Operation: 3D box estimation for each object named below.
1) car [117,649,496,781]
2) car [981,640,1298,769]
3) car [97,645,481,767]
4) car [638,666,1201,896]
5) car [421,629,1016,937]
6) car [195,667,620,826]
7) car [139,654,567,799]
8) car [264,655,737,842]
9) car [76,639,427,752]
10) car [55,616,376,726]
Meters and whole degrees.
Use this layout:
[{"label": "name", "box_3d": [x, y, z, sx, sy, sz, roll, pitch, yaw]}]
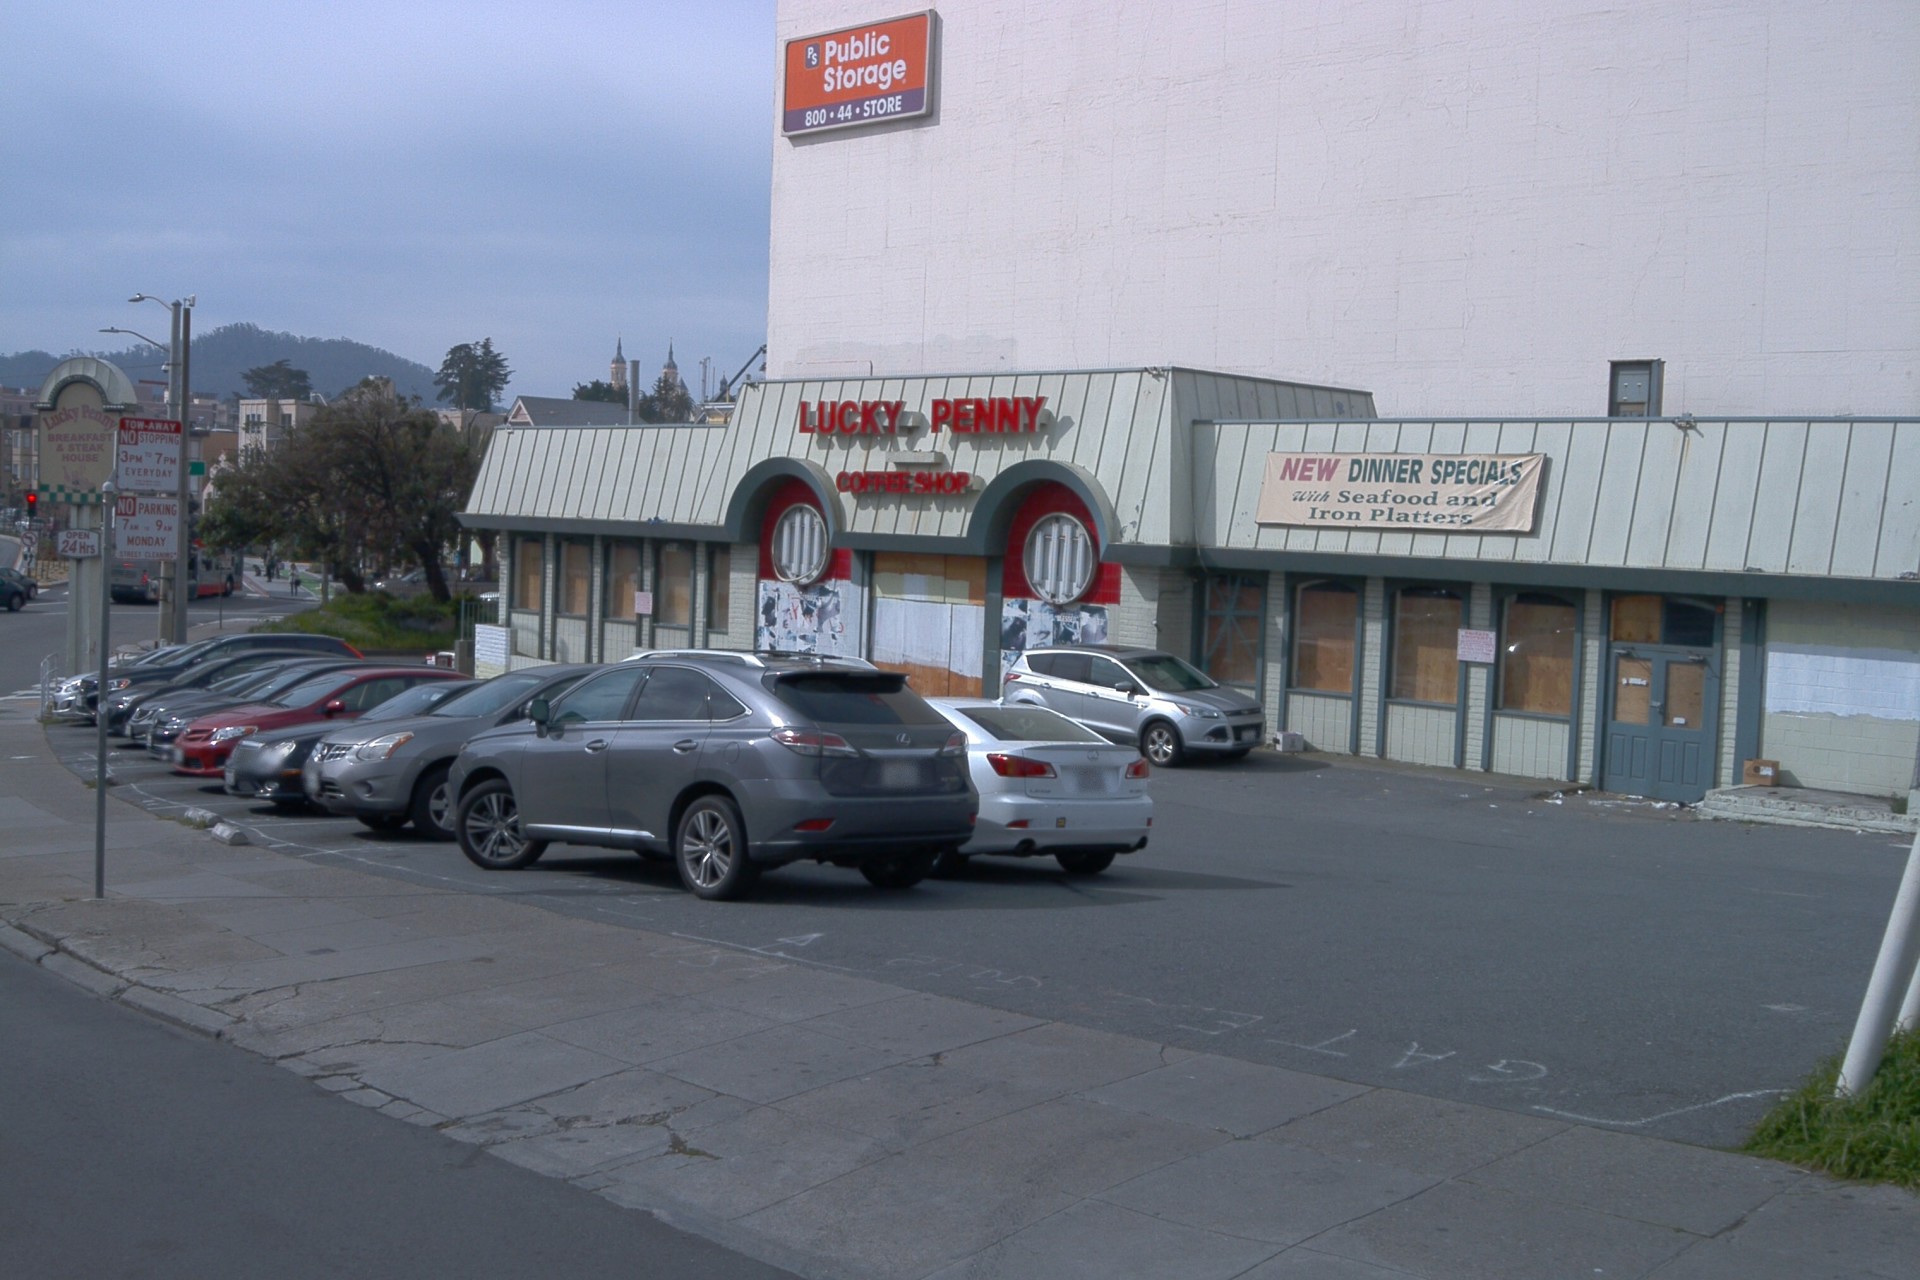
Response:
[{"label": "car", "box_3d": [-8.590, 0.919, 27.107, 4.343, 1.580, 1.994, 0, 0, -43]}, {"label": "car", "box_3d": [2.677, 0.917, 31.397, 2.134, 1.790, 4.557, 0, 0, -44]}, {"label": "car", "box_3d": [-9.597, 0.884, 29.483, 4.736, 1.590, 2.241, 0, 0, -44]}, {"label": "car", "box_3d": [-0.479, 1.059, 17.376, 2.088, 1.580, 4.738, 0, 0, -44]}, {"label": "car", "box_3d": [-1.934, 0.901, 15.286, 2.065, 1.920, 4.493, 0, 0, -45]}, {"label": "car", "box_3d": [-5.893, 1.074, 22.122, 4.029, 1.500, 1.869, 0, 0, -45]}, {"label": "car", "box_3d": [-7.279, 0.967, 24.811, 4.484, 1.550, 2.134, 0, 0, -44]}, {"label": "car", "box_3d": [-4.348, 0.951, 19.737, 1.975, 1.570, 4.019, 1, 0, 44]}, {"label": "car", "box_3d": [-10.946, 0.802, 31.807, 4.651, 1.610, 2.192, 0, 0, -43]}, {"label": "car", "box_3d": [-12.321, 0.484, 34.037, 4.561, 1.710, 2.059, 0, 0, -43]}]
